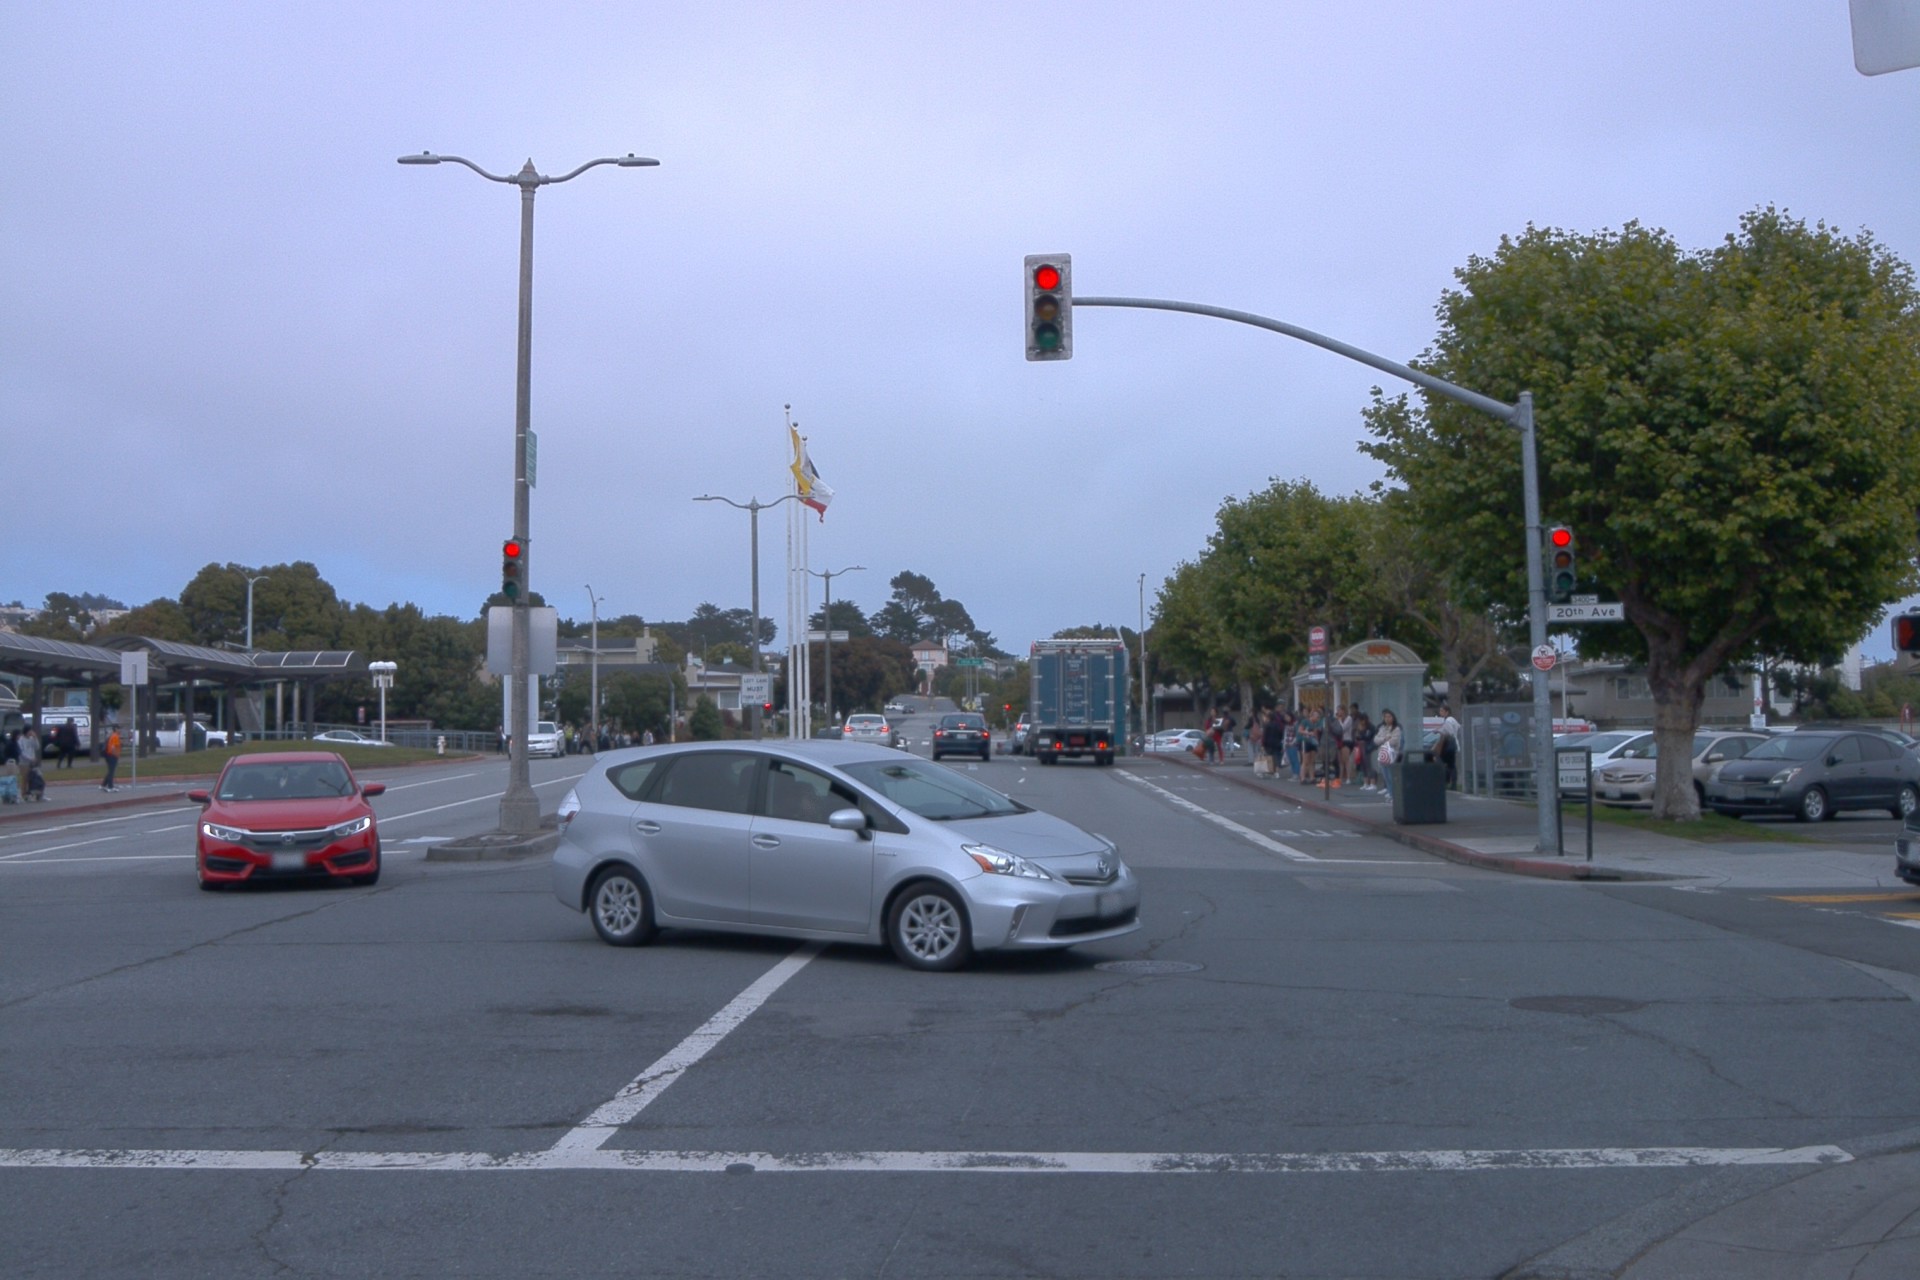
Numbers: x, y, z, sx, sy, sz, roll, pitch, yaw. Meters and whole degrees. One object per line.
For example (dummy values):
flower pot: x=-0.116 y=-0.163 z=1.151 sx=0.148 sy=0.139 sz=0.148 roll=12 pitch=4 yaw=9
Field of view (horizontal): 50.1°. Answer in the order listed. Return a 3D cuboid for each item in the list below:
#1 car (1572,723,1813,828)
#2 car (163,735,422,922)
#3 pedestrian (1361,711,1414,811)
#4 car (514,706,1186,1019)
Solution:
car: x=12.851 y=2.325 z=36.016 sx=3.959 sy=1.540 sz=1.985 roll=-1 pitch=1 yaw=-33
car: x=-7.486 y=1.963 z=22.723 sx=2.274 sy=1.526 sz=4.666 roll=-1 pitch=1 yaw=-23
pedestrian: x=7.484 y=2.111 z=36.016 sx=0.604 sy=1.700 sz=0.727 roll=-1 pitch=1 yaw=-22
car: x=-0.892 y=1.498 z=15.379 sx=4.704 sy=1.825 sz=2.099 roll=0 pitch=1 yaw=34
